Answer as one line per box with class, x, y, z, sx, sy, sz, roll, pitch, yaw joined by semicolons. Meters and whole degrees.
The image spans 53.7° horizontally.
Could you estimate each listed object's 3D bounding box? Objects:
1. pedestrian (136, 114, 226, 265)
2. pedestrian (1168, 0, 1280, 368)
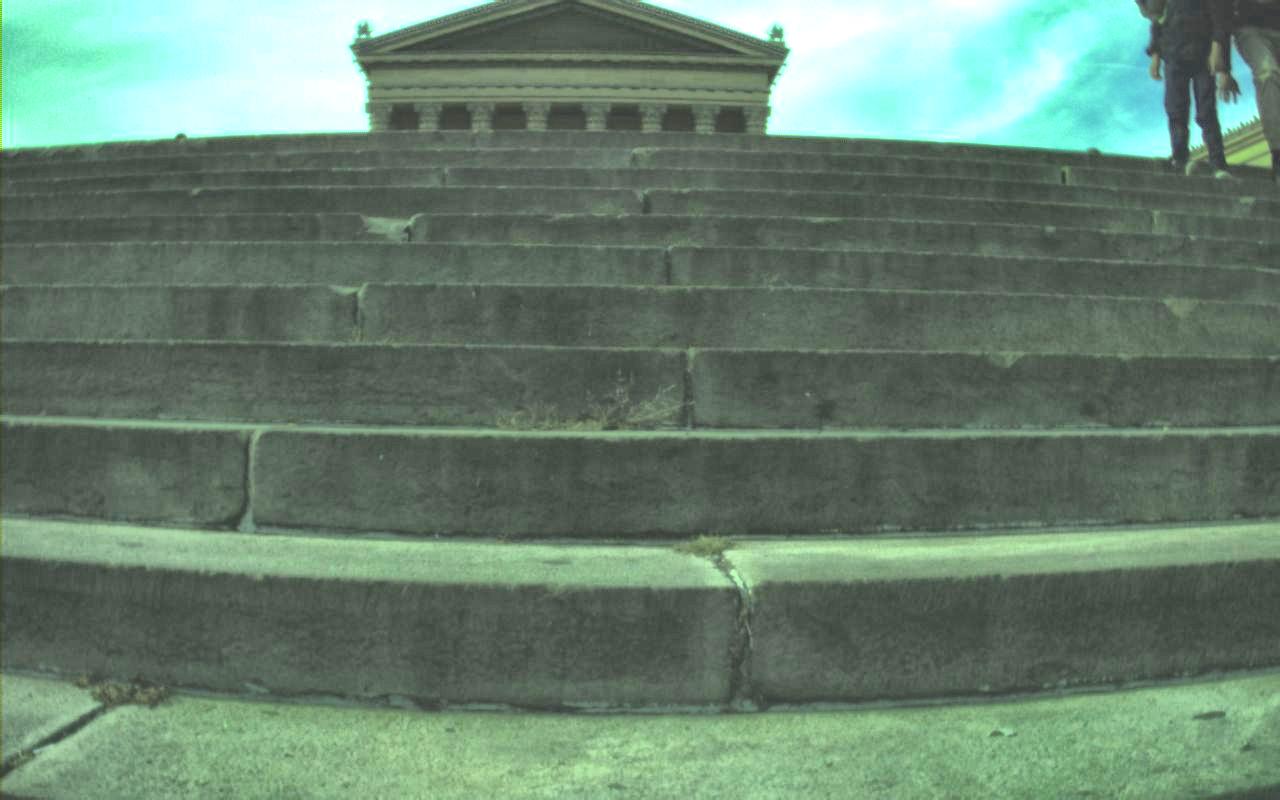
pedestrian;-5.845;-2.621;14.917;0.798;1.800;0.850;1;0;44
pedestrian;2.671;-0.992;4.703;0.813;1.740;0.828;1;0;23
